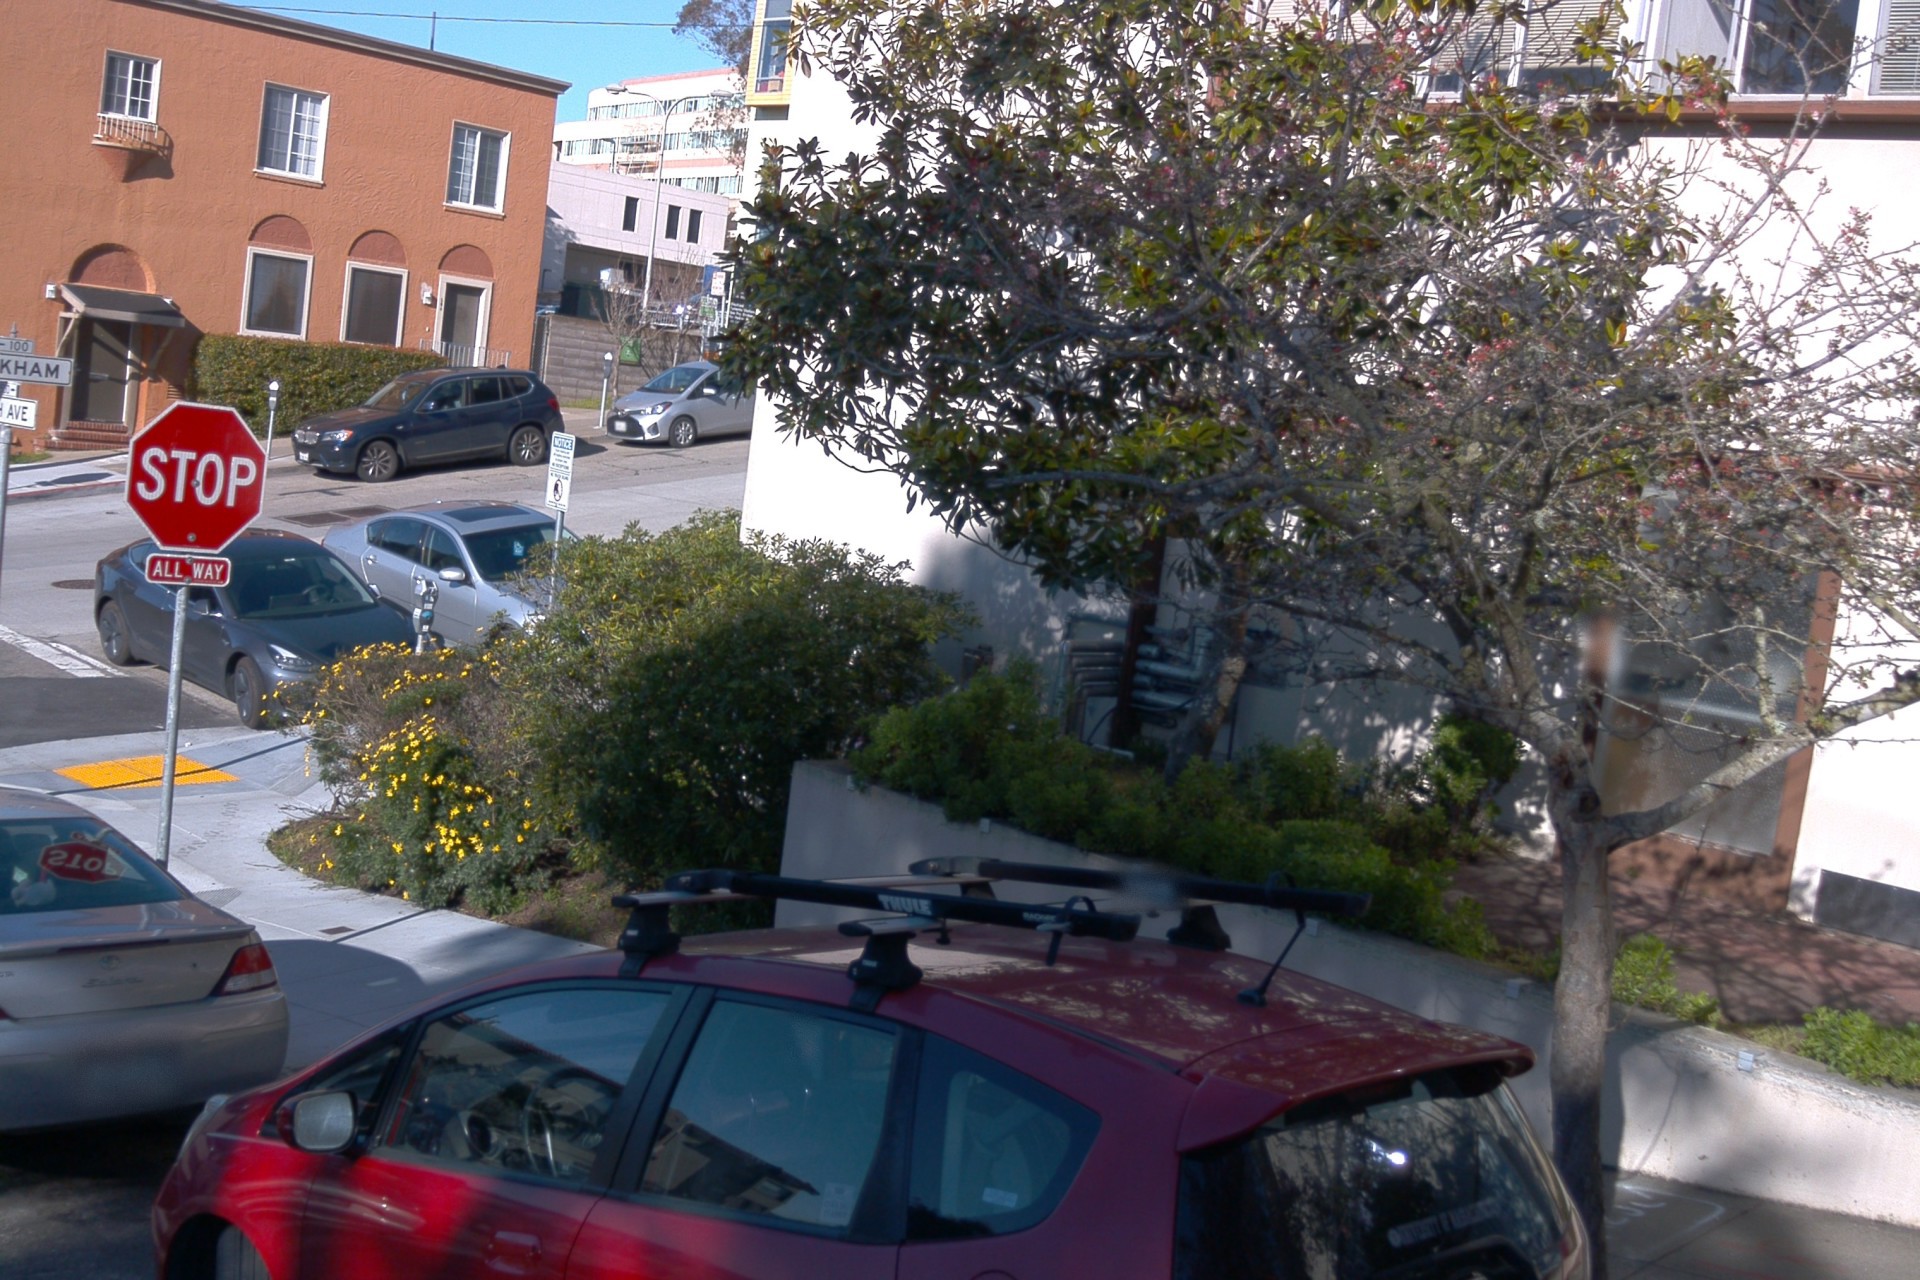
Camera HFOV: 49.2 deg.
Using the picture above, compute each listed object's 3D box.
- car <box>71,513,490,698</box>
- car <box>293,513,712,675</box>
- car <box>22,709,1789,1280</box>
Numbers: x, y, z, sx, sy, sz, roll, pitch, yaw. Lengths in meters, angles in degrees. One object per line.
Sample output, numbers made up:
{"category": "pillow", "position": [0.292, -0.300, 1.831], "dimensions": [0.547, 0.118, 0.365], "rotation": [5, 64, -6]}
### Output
{"category": "car", "position": [-6.817, -0.298, 20.731], "dimensions": [4.636, 1.620, 2.044], "rotation": [0, 0, 45]}
{"category": "car", "position": [-4.978, -0.440, 22.475], "dimensions": [4.561, 1.560, 2.064], "rotation": [0, 0, 41]}
{"category": "car", "position": [-0.417, 1.261, 5.138], "dimensions": [4.055, 2.050, 2.062], "rotation": [0, 0, 44]}
